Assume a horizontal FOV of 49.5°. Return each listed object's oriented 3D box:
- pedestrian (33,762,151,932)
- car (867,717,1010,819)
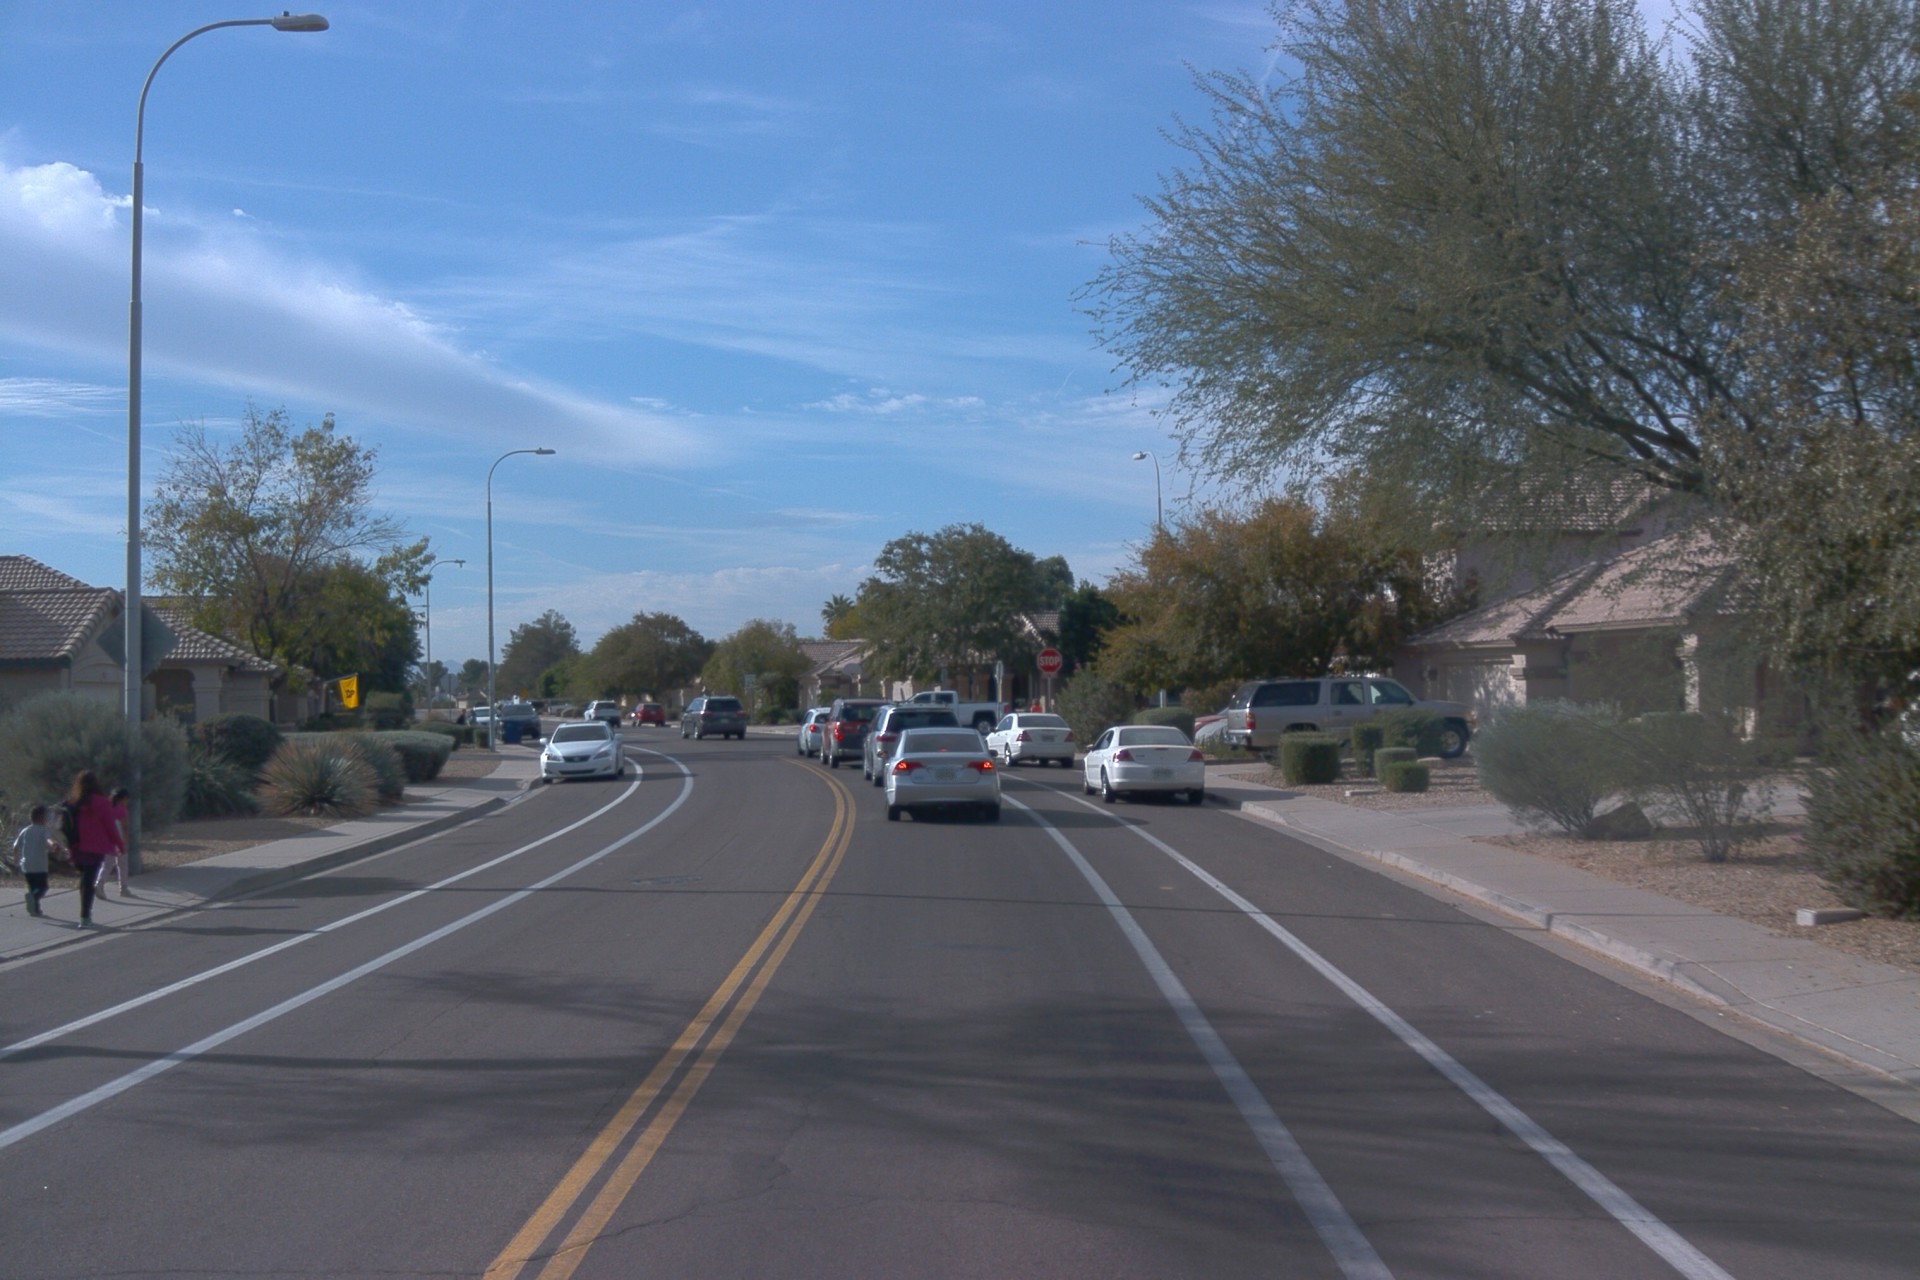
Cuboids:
[{"bbox_3d":[-8.448,1.999,20.277,0.782,1.580,0.850,0,-1,2],"label":"pedestrian"},{"bbox_3d":[-0.424,2.002,33.487,2.121,1.440,4.395,0,-1,-3],"label":"car"}]
